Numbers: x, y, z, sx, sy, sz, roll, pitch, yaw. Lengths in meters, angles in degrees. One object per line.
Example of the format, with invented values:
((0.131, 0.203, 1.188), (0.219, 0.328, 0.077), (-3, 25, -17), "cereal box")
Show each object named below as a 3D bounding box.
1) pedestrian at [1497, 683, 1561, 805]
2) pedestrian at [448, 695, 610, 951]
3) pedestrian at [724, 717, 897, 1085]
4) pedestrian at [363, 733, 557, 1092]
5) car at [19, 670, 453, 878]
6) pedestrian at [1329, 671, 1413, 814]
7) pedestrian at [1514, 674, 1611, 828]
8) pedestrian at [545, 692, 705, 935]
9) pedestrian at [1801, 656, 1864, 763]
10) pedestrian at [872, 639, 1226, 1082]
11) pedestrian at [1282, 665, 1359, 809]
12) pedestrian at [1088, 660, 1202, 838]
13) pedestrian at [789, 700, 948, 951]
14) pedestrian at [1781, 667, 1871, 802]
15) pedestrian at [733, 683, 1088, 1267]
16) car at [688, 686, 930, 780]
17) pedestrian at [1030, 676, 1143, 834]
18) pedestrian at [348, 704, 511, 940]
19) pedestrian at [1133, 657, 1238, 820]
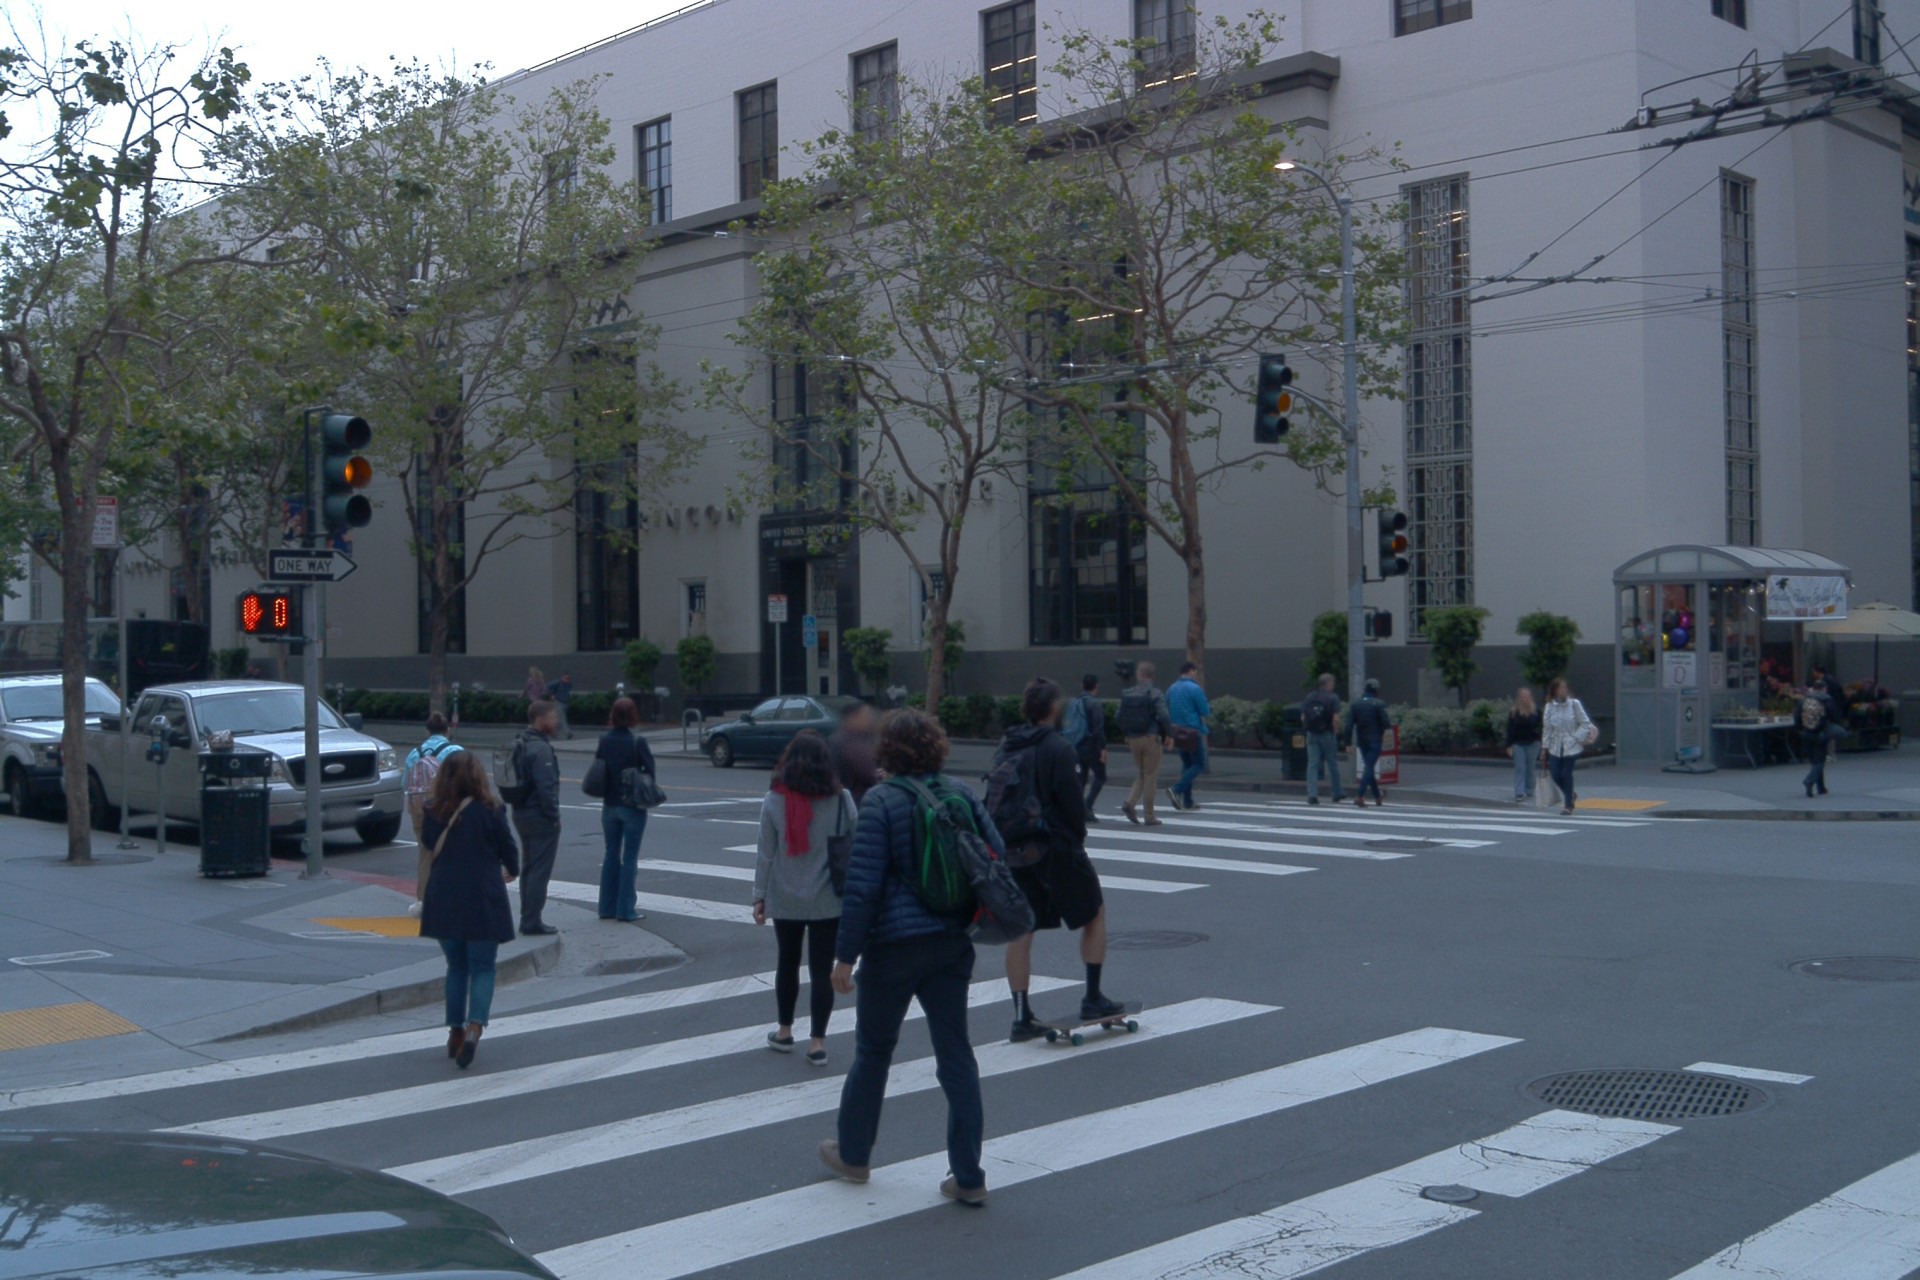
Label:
((8.038, 1.450, 29.142), (0.735, 1.646, 0.893), (0, 1, 25), "pedestrian")
((-3.252, 1.342, 15.551), (0.942, 1.809, 0.850), (-1, 1, -33), "pedestrian")
((-0.790, 1.298, 10.652), (0.798, 1.739, 1.040), (0, 1, -9), "pedestrian")
((-2.604, 1.390, 10.845), (0.885, 1.741, 0.889), (0, 1, -7), "pedestrian")
((-8.544, 1.403, 23.966), (2.501, 1.940, 6.007), (-1, 1, -44), "car")
((5.378, 1.321, 26.973), (0.753, 1.796, 0.988), (0, 1, 34), "pedestrian")
((7.366, 1.336, 25.229), (0.807, 1.800, 0.940), (1, 1, 42), "pedestrian")
((-2.721, 1.374, 16.772), (0.828, 1.856, 0.973), (1, 1, 41), "pedestrian")
((14.668, 1.160, 34.691), (0.751, 1.746, 0.848), (1, 1, 42), "pedestrian")
((0.483, 1.064, 10.893), (1.544, 2.118, 1.097), (-1, 1, -43), "pedestrian")
((4.820, 1.279, 27.558), (0.678, 1.856, 0.979), (0, 1, 34), "pedestrian")
((2.061, 1.187, 22.969), (1.051, 1.896, 0.762), (-1, 1, -43), "pedestrian")
((-0.685, 1.362, 15.572), (0.716, 1.771, 0.964), (1, 1, 44), "pedestrian")
((11.809, 1.270, 28.149), (0.842, 1.766, 0.963), (1, 1, 43), "pedestrian")
((-0.208, 1.172, 7.840), (0.847, 1.969, 1.161), (-1, 1, -35), "pedestrian")
((-2.897, 1.693, 38.806), (2.016, 1.480, 4.678), (-1, 1, -44), "car")
((1.440, 1.280, 23.423), (0.974, 1.706, 0.840), (-1, 1, -44), "pedestrian")
((-4.214, 1.416, 16.451), (0.830, 1.767, 1.012), (0, 1, 18), "pedestrian")
((2.732, 1.172, 24.990), (0.984, 1.896, 0.798), (-1, 1, -38), "pedestrian")
